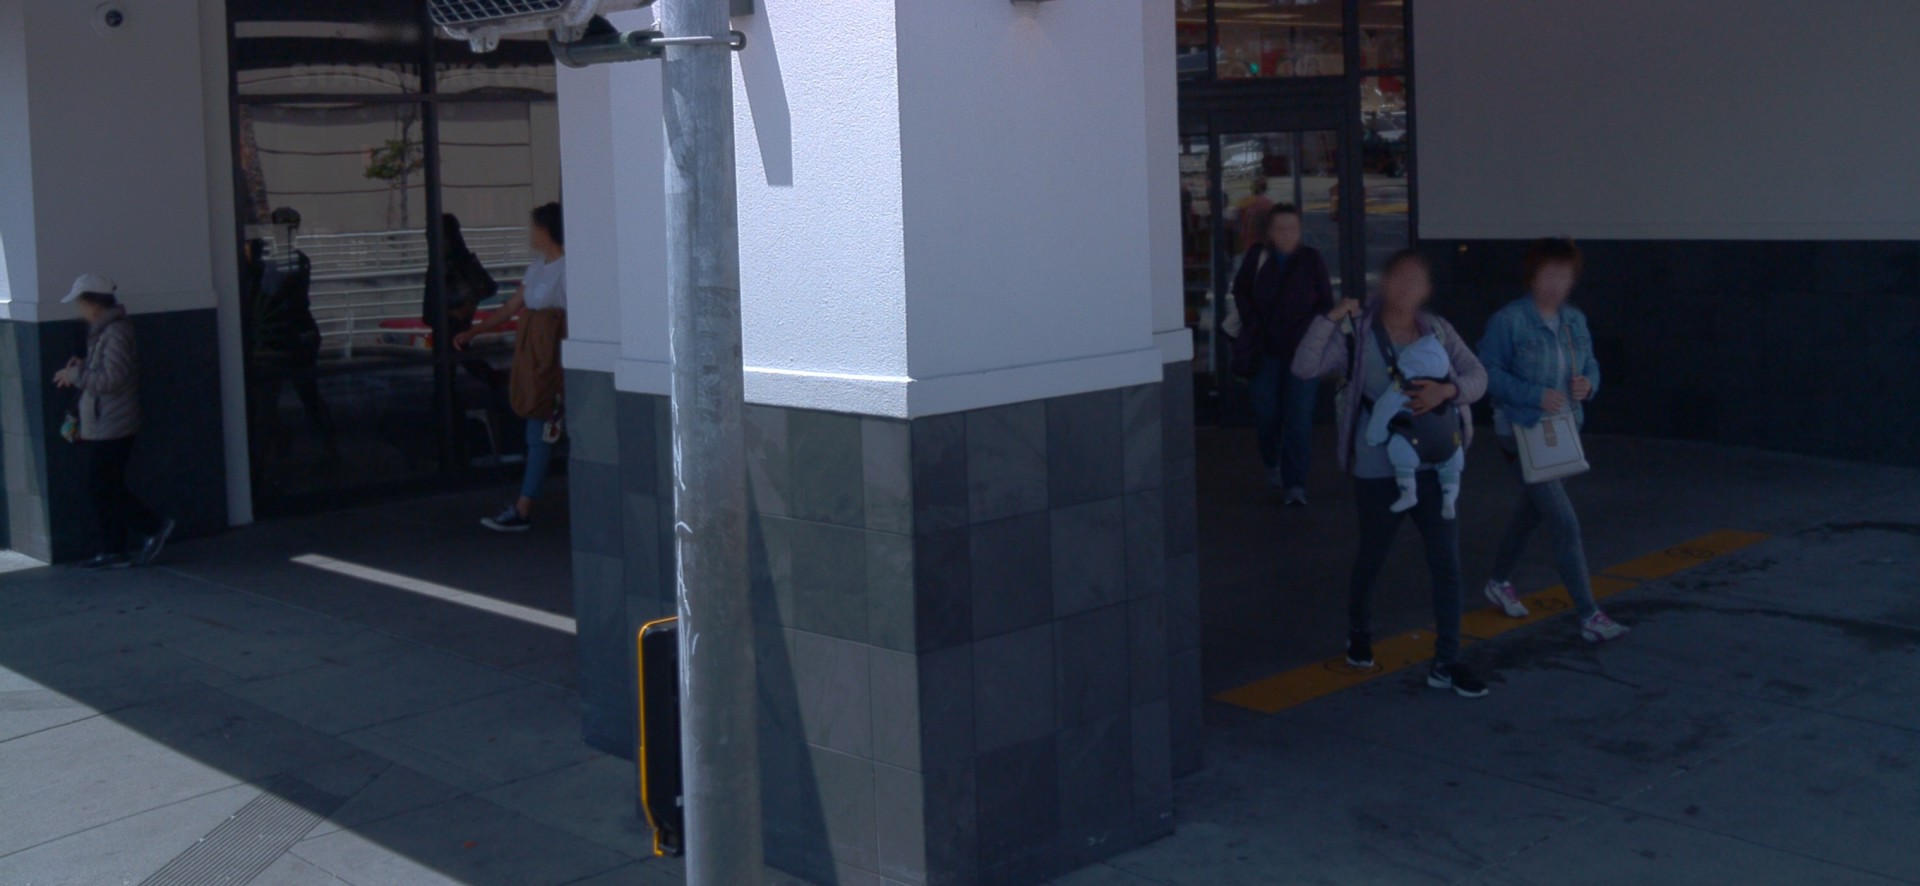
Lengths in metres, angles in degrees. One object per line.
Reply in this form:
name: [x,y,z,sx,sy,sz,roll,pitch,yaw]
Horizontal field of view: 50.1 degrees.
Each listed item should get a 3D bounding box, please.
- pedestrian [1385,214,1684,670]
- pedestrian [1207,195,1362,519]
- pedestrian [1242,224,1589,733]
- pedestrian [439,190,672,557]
pedestrian: [2.246,-0.056,8.123,0.824,1.689,0.882,0,1,-13]
pedestrian: [1.735,-0.488,10.968,0.780,1.649,0.893,0,1,10]
pedestrian: [1.599,0.063,7.418,1.071,1.699,1.067,0,2,3]
pedestrian: [-2.150,-0.410,10.885,0.954,1.829,0.882,-1,1,-33]
